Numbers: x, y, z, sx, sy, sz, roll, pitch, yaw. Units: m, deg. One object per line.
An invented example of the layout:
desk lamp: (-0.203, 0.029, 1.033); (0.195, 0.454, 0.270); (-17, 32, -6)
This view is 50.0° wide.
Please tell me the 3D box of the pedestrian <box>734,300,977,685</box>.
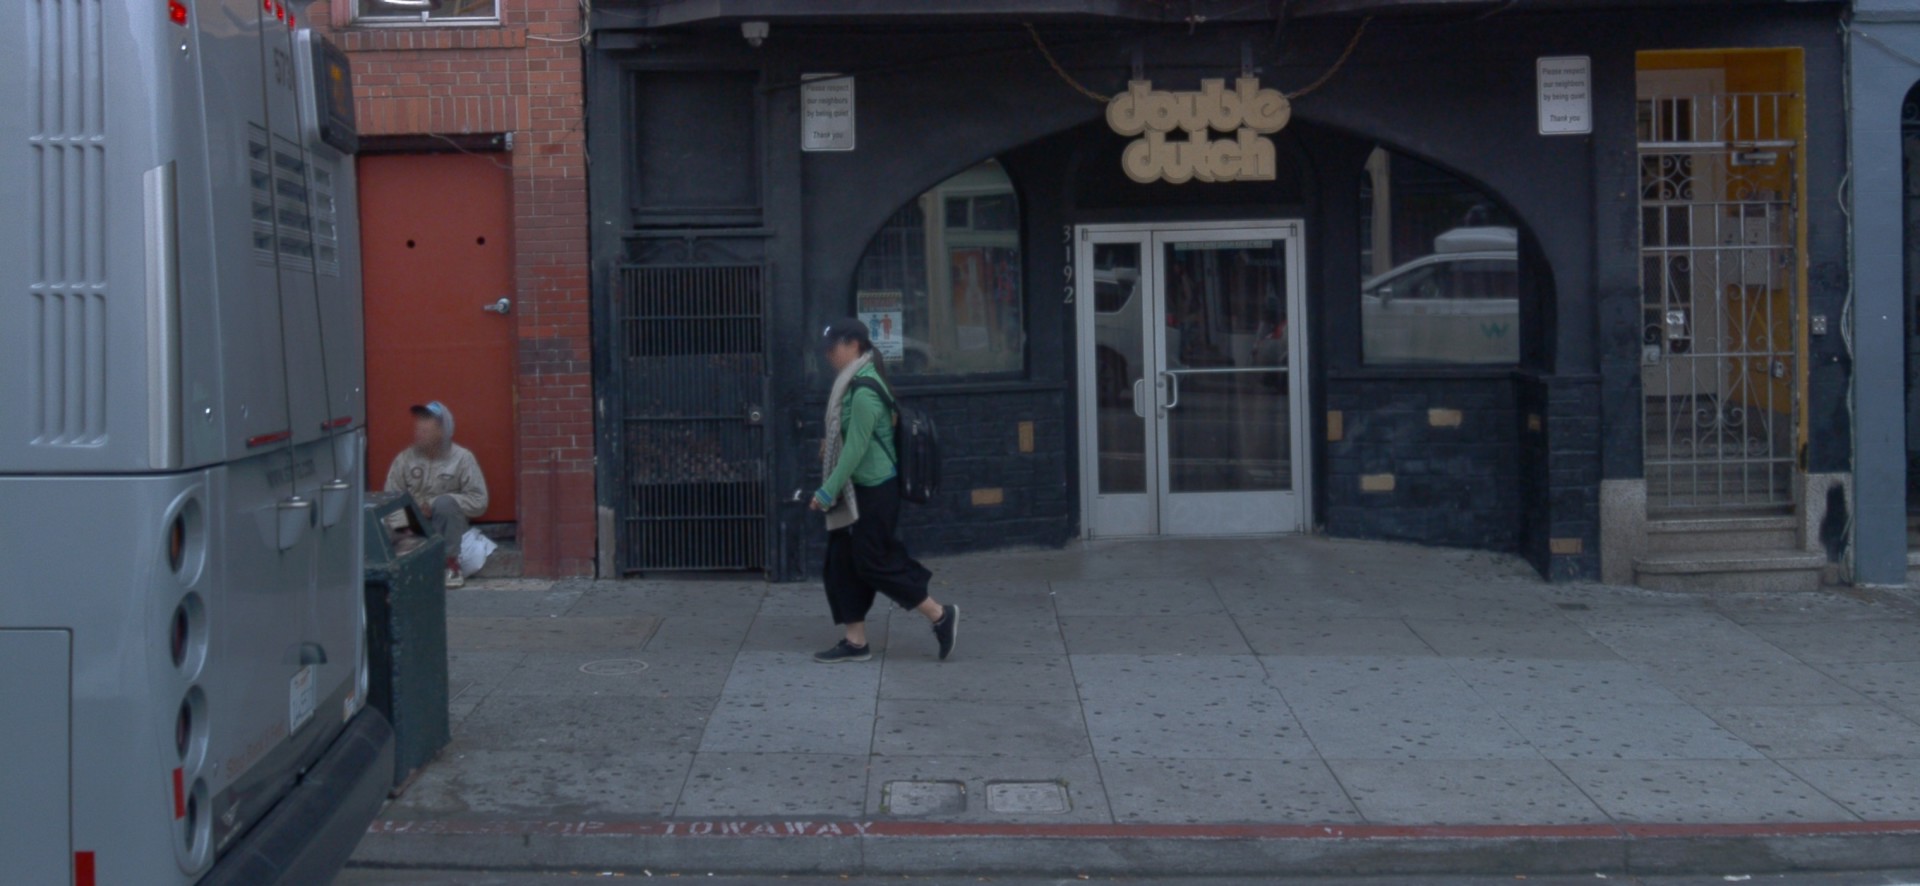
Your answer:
pedestrian: (-0.531, 0.191, 10.098); (1.071, 1.747, 0.919); (0, 2, -11)

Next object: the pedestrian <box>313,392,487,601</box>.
pedestrian: (-3.199, 0.287, 11.813); (0.805, 1.098, 0.744); (0, 3, -2)
